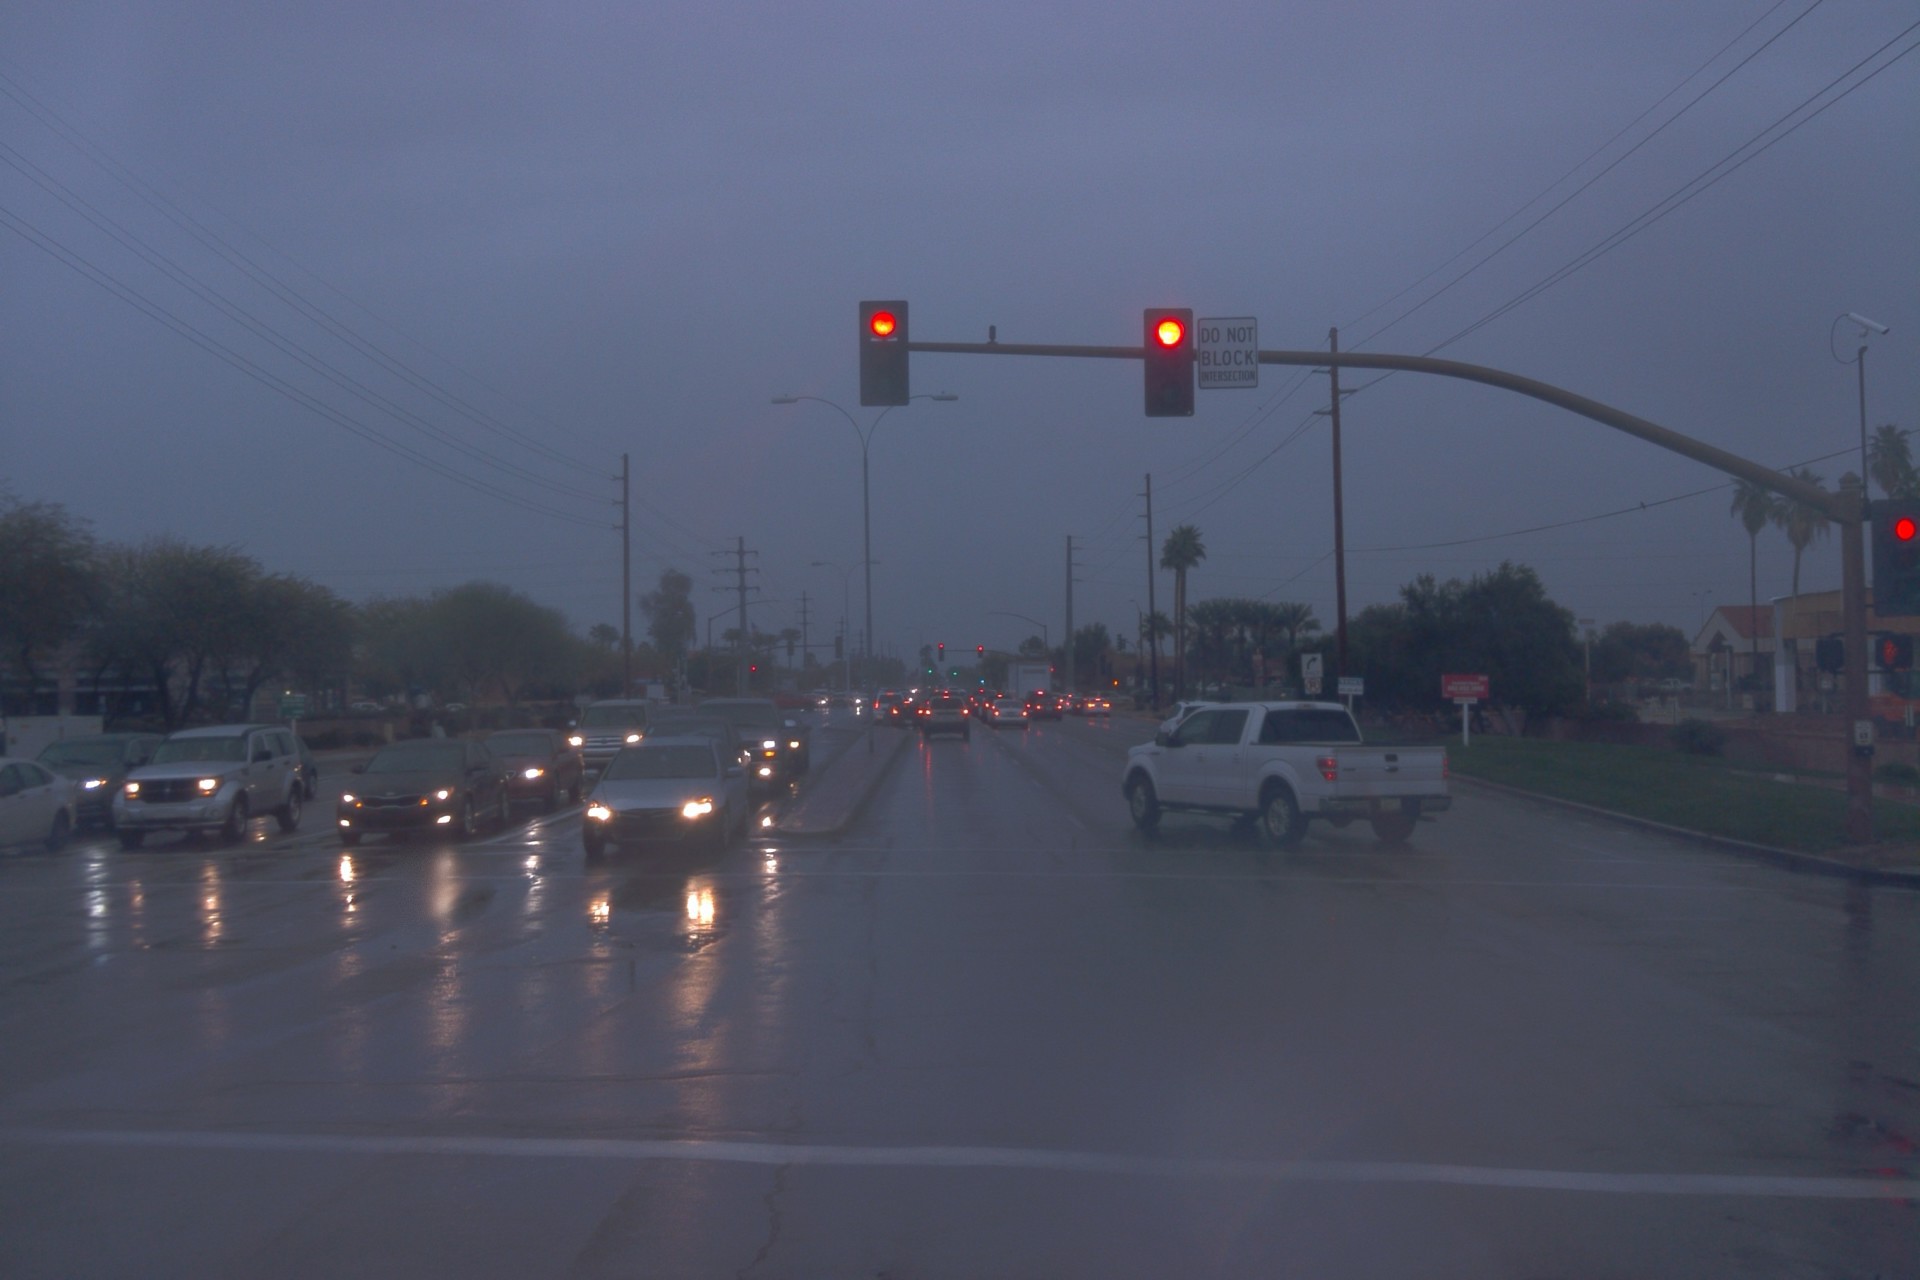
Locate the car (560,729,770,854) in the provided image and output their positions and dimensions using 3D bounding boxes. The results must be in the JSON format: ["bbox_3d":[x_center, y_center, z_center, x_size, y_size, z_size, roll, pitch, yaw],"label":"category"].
[{"bbox_3d":[-3.794,1.935,27.539,2.102,1.410,4.605,0,-1,1],"label":"car"}]

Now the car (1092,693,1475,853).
[{"bbox_3d":[4.373,1.755,29.360,2.512,1.980,5.891,0,-1,-24],"label":"car"}]

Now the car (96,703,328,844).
[{"bbox_3d":[-11.707,2.039,32.870,2.052,2.020,4.497,0,-1,0],"label":"car"}]

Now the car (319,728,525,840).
[{"bbox_3d":[-8.040,2.118,31.497,2.042,1.440,4.763,0,-1,-2],"label":"car"}]
